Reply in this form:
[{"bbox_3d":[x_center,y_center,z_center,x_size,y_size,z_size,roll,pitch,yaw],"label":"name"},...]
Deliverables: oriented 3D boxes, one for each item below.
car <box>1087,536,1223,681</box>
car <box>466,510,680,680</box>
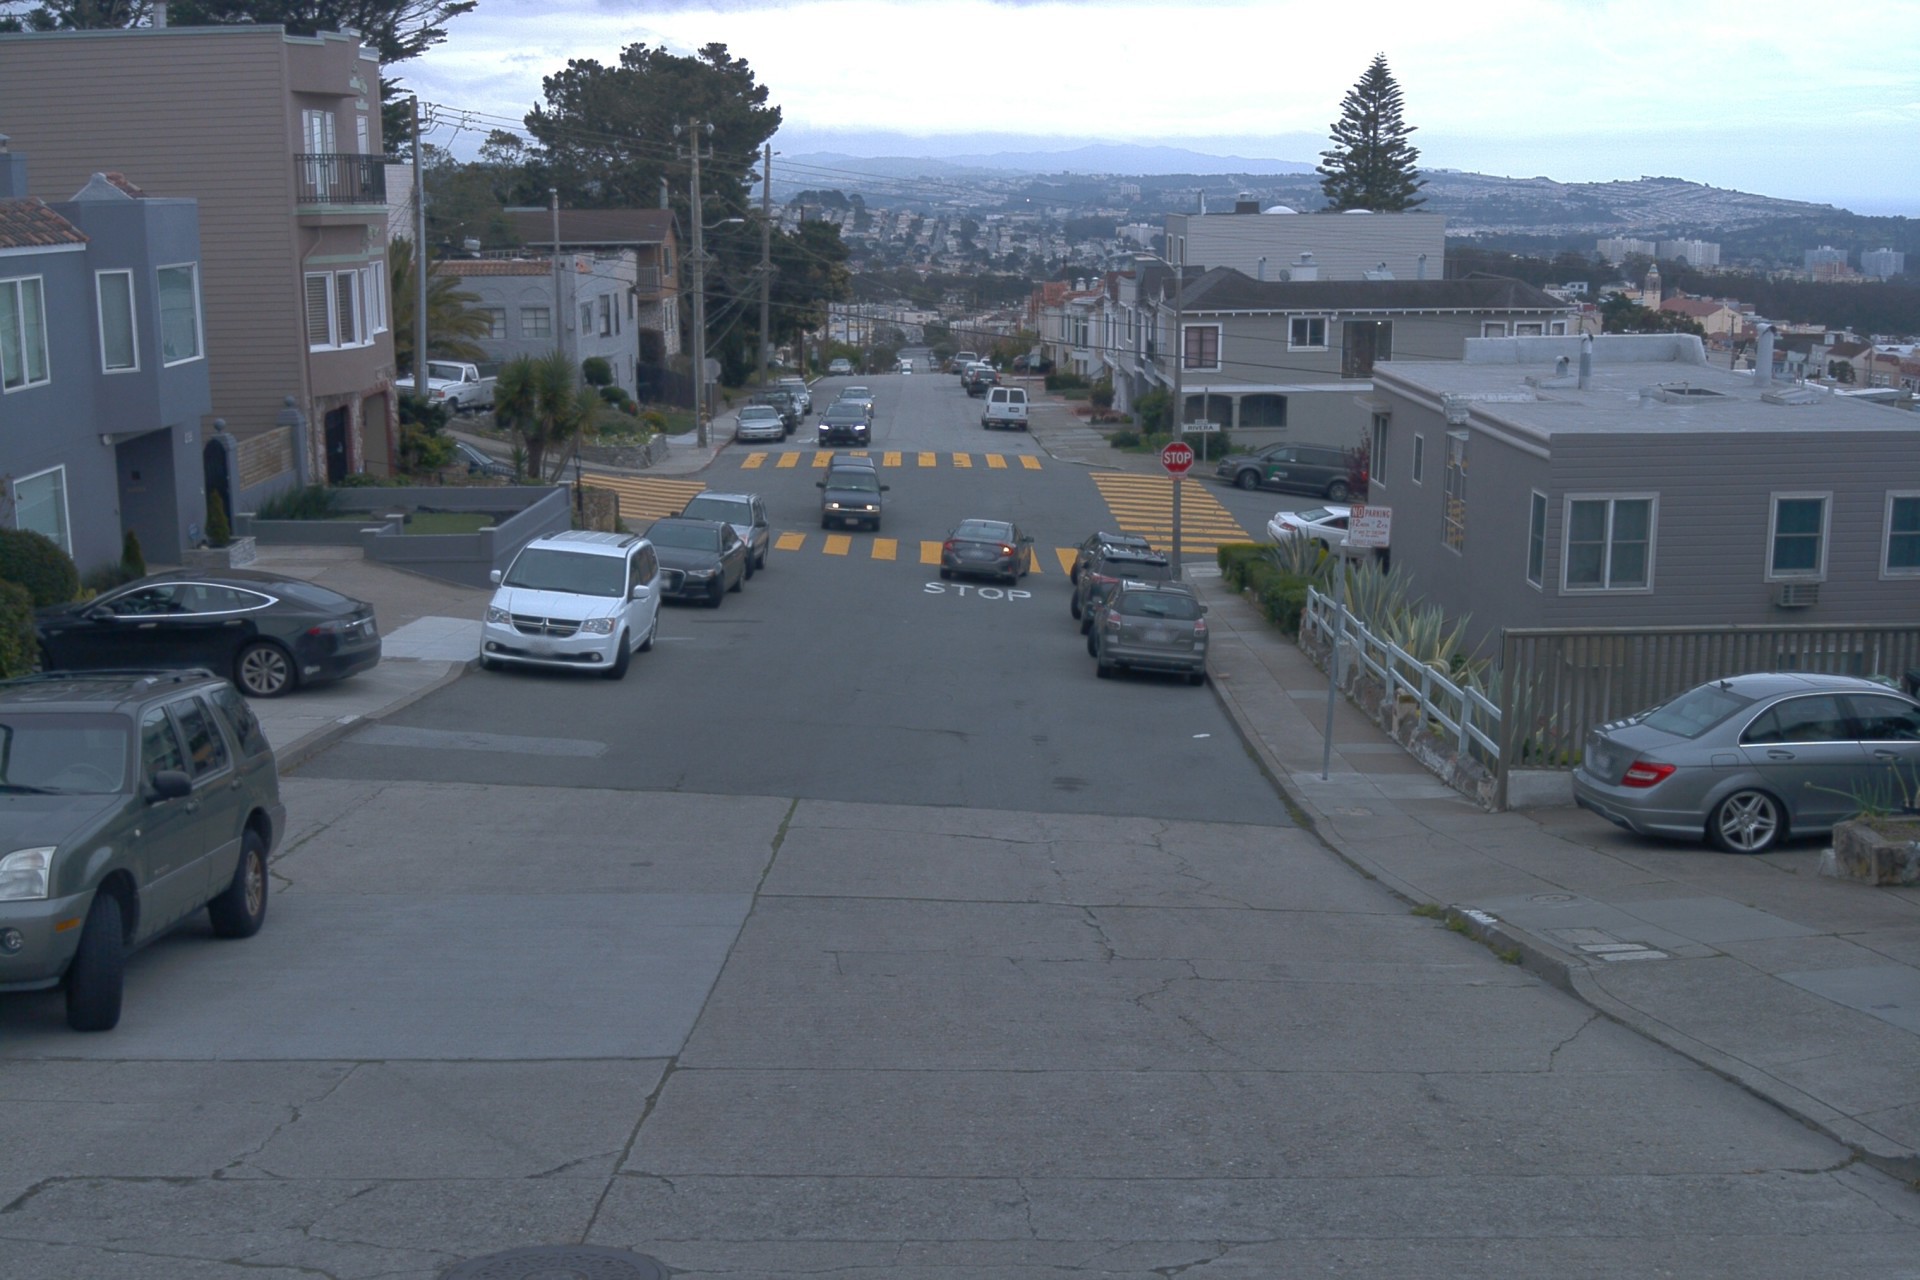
[{"bbox_3d":[3.155,-0.488,34.080,2.100,2.230,4.506,0,0,4],"label":"car"},{"bbox_3d":[-5.430,-0.594,29.595,2.251,2.231,4.981,0,0,-1],"label":"car"}]
